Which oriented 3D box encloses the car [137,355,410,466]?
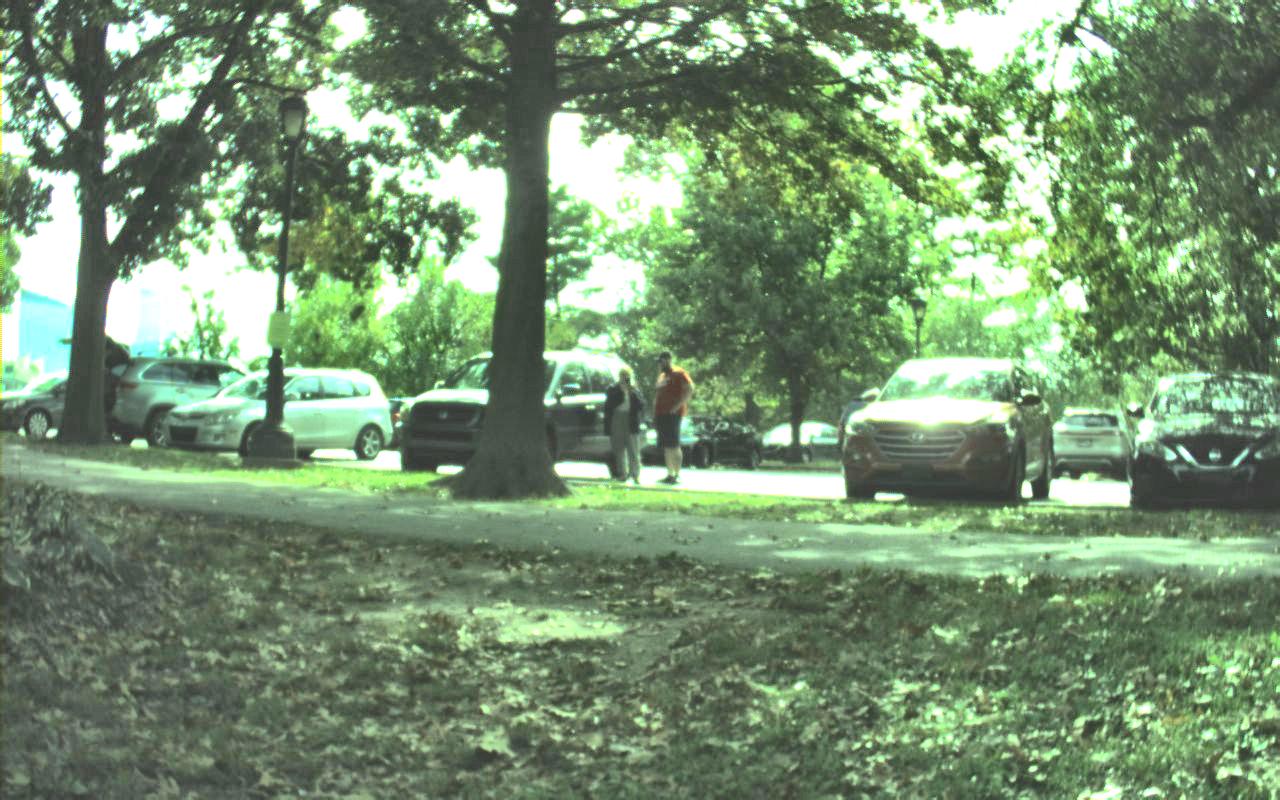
[{"bbox_3d":[-5.988,0.125,20.155,1.952,1.644,4.585,1,1,30],"label":"car"}]

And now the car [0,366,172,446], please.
[{"bbox_3d":[-12.349,0.151,24.859,1.948,1.605,4.416,1,1,34],"label":"car"}]

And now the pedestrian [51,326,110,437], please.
[{"bbox_3d":[-9.807,-0.279,20.136,0.968,1.880,0.890,0,0,-37],"label":"pedestrian"}]

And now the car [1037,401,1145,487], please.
[{"bbox_3d":[10.389,0.960,27.452,1.968,1.688,4.486,1,1,28],"label":"car"}]

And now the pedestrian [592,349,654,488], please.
[{"bbox_3d":[-0.236,0.237,16.858,0.774,1.815,0.756,0,0,-5],"label":"pedestrian"}]

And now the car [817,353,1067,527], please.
[{"bbox_3d":[3.604,0.333,13.924,1.970,1.630,4.539,1,1,25],"label":"car"}]

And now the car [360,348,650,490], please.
[{"bbox_3d":[-1.674,0.162,17.077,1.994,1.652,4.475,1,1,24],"label":"car"}]

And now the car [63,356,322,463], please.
[{"bbox_3d":[-8.127,0.151,21.655,1.983,1.780,4.583,1,1,41],"label":"car"}]

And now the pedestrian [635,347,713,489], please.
[{"bbox_3d":[0.460,0.229,17.206,0.766,1.869,0.759,1,0,31],"label":"pedestrian"}]

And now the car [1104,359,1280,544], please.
[{"bbox_3d":[6.140,0.432,12.079,1.955,1.603,4.503,1,1,31],"label":"car"}]
